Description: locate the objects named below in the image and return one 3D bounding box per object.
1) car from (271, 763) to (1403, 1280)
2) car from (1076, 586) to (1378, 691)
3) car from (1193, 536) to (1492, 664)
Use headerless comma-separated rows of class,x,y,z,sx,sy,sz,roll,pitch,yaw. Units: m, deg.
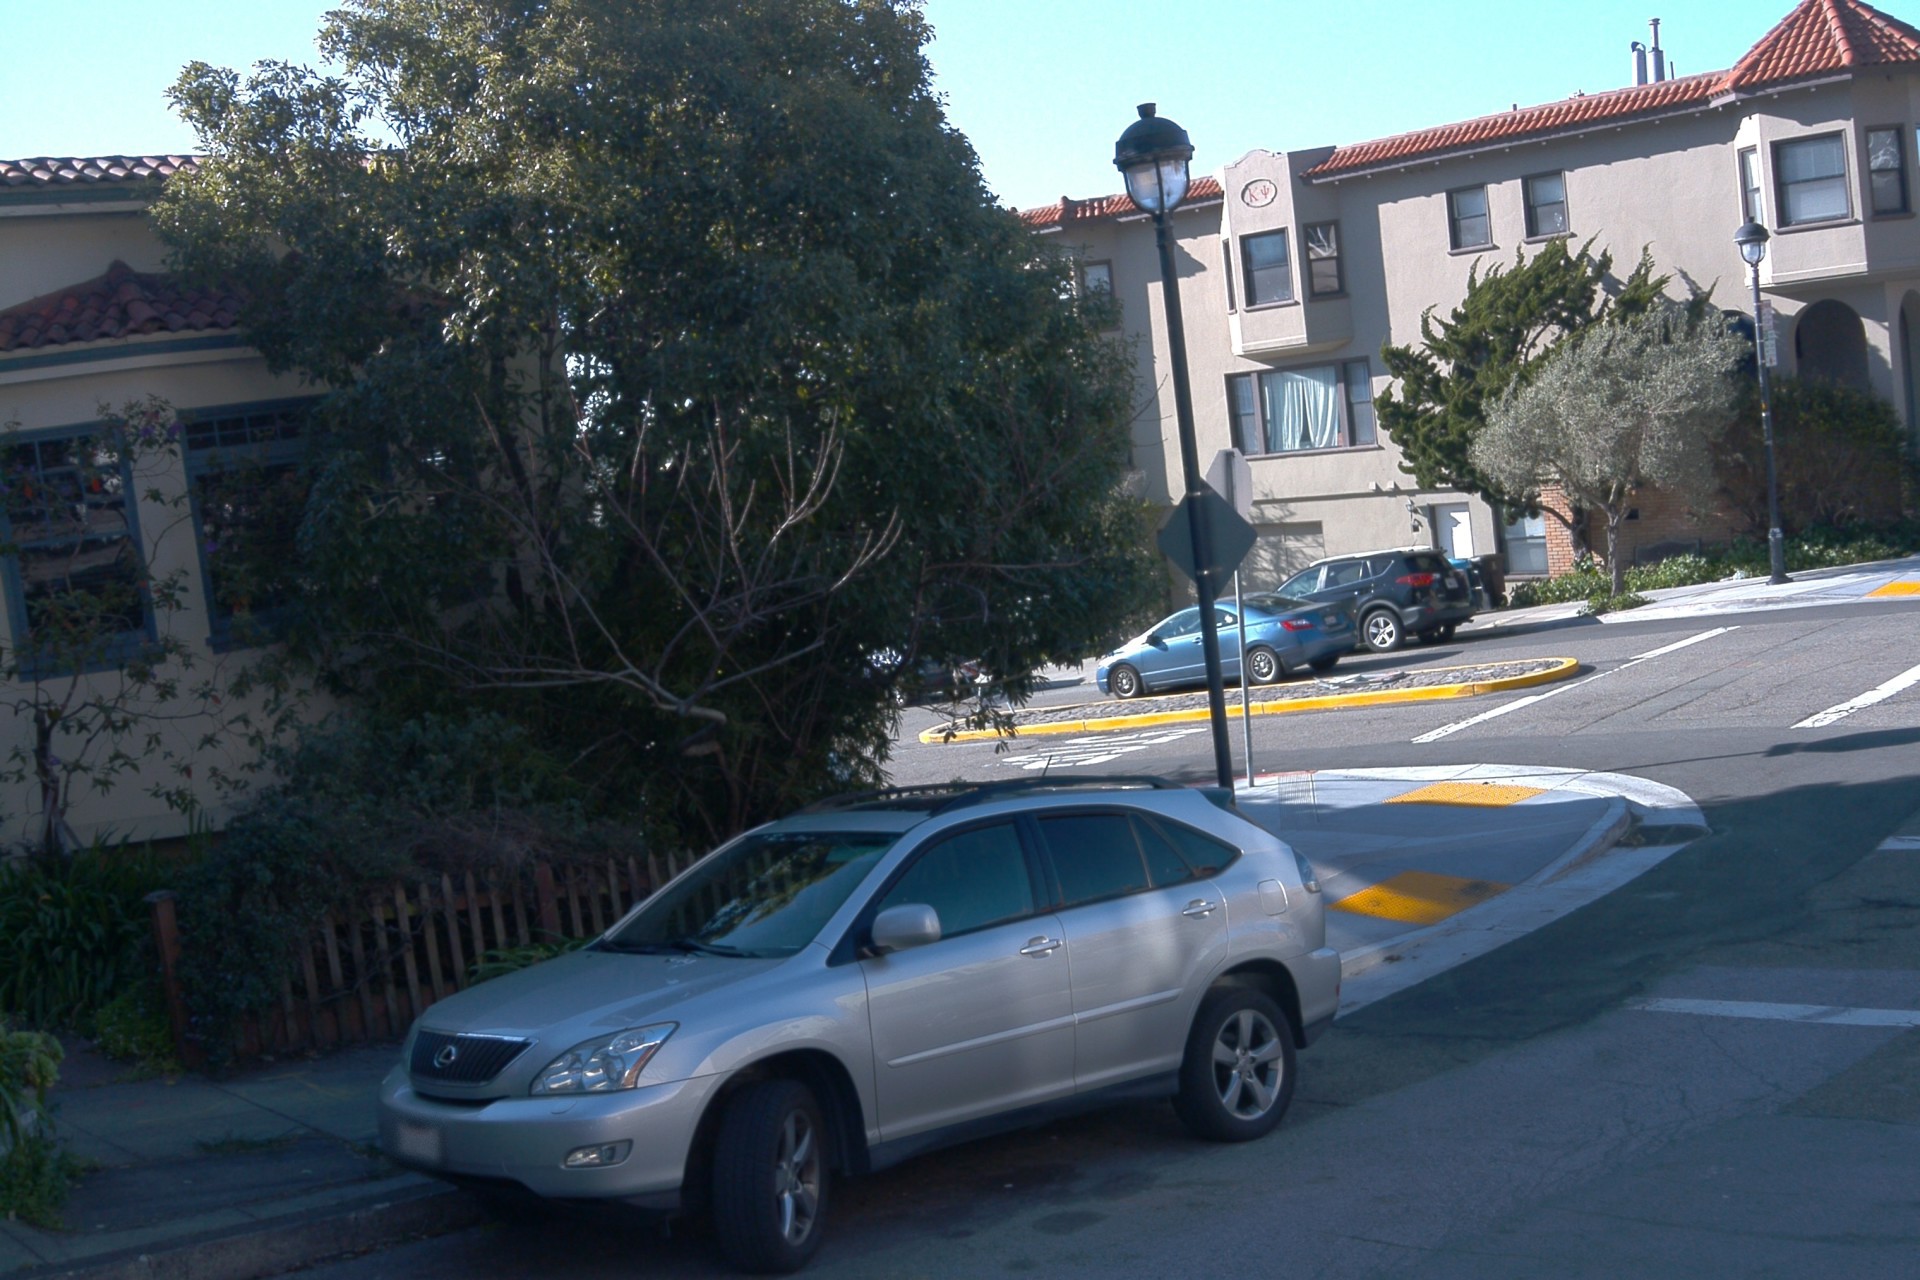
car,-0.321,1.596,9.085,4.666,1.810,2.097,-1,0,-43
car,4.102,-0.022,32.273,4.380,1.530,1.832,0,0,42
car,6.432,-0.635,35.200,4.526,2.020,2.204,0,0,45
